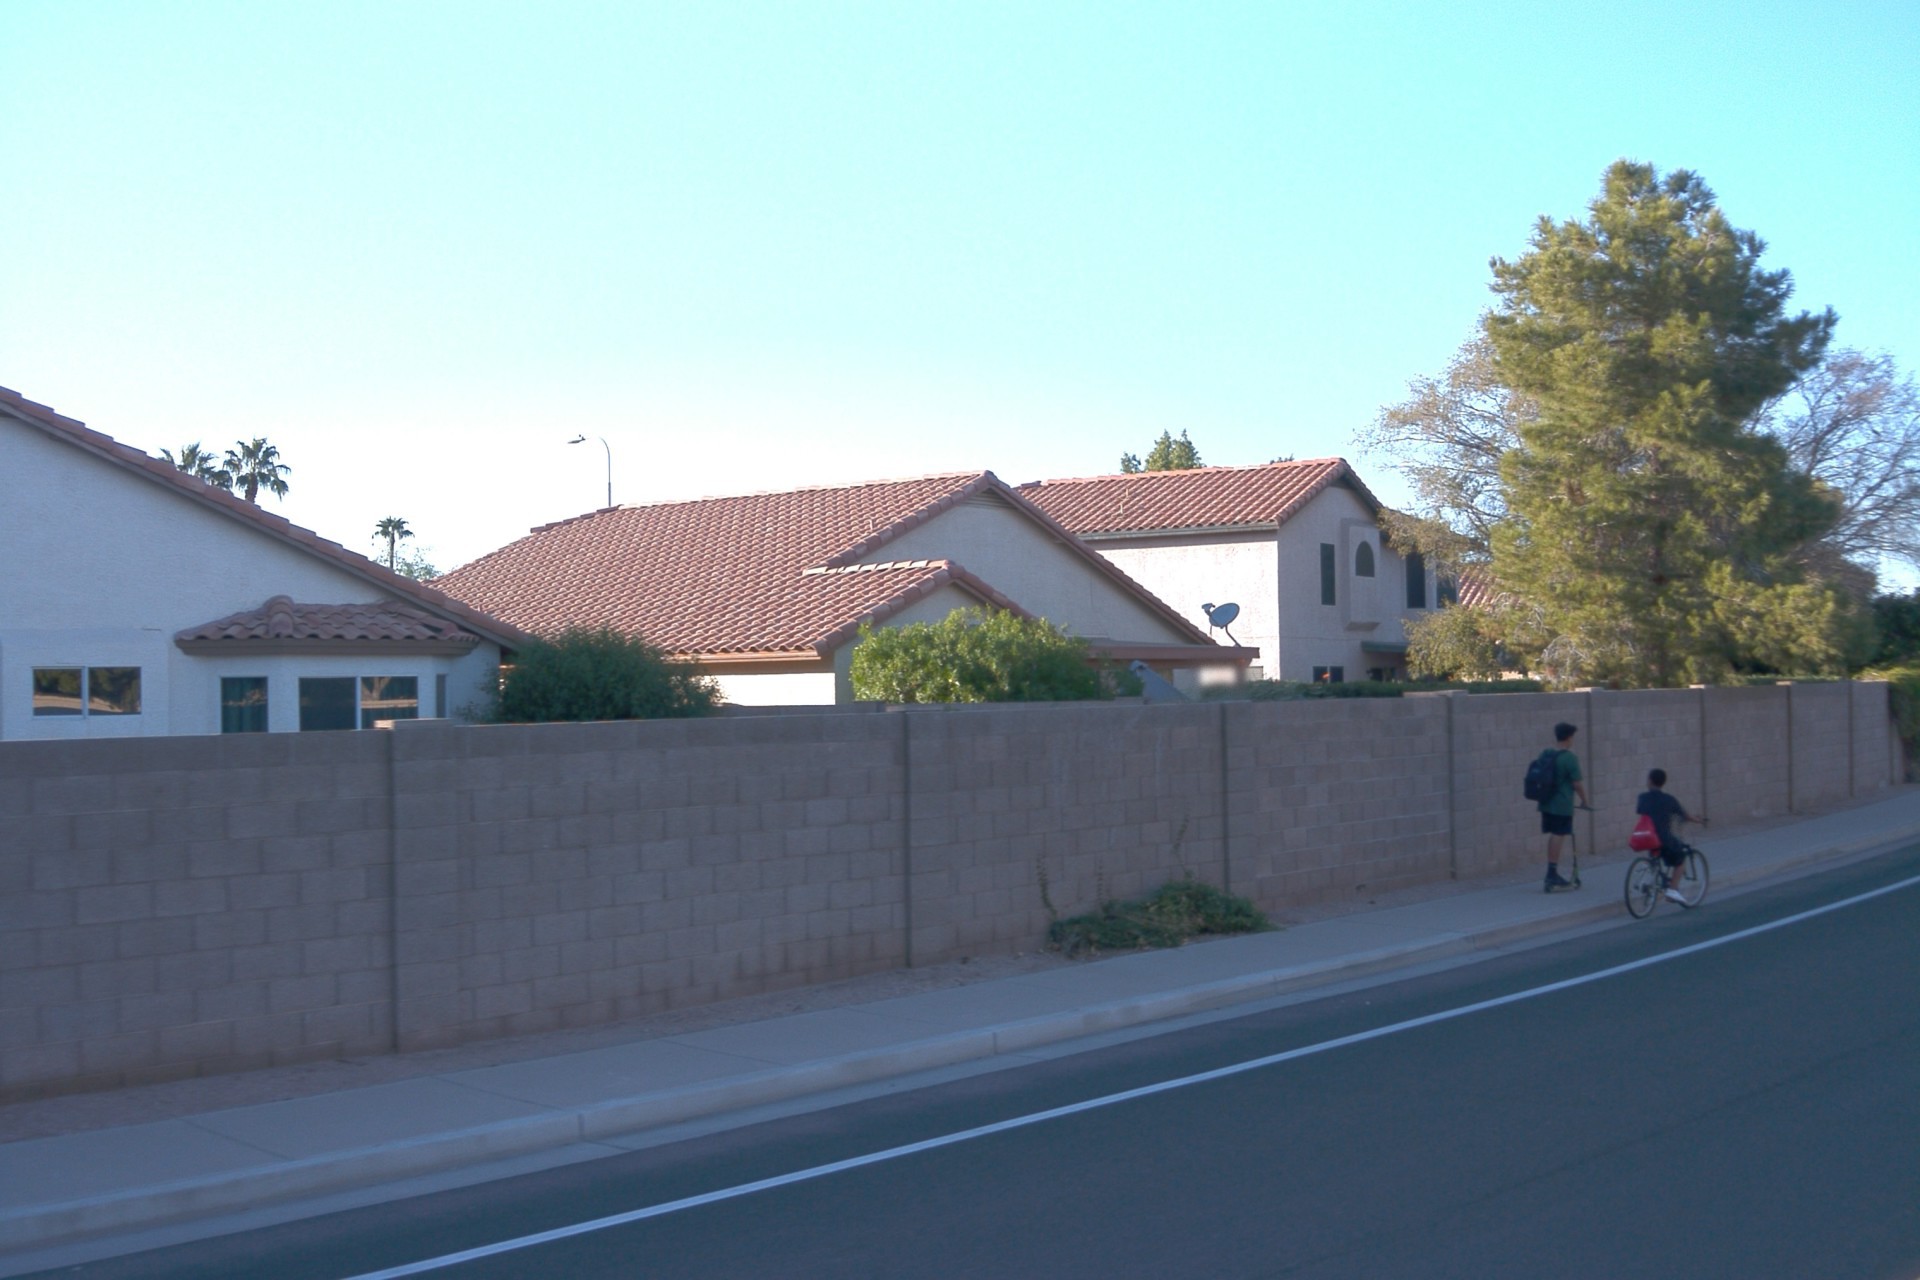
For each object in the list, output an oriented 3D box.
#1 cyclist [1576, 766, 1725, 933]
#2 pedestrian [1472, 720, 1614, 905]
[{"bbox_3d":[6.641,1.978,19.880,0.690,1.430,1.673,0,0,44],"label":"cyclist"},{"bbox_3d":[5.853,1.697,20.763,0.890,1.730,1.279,0,0,42],"label":"pedestrian"}]
